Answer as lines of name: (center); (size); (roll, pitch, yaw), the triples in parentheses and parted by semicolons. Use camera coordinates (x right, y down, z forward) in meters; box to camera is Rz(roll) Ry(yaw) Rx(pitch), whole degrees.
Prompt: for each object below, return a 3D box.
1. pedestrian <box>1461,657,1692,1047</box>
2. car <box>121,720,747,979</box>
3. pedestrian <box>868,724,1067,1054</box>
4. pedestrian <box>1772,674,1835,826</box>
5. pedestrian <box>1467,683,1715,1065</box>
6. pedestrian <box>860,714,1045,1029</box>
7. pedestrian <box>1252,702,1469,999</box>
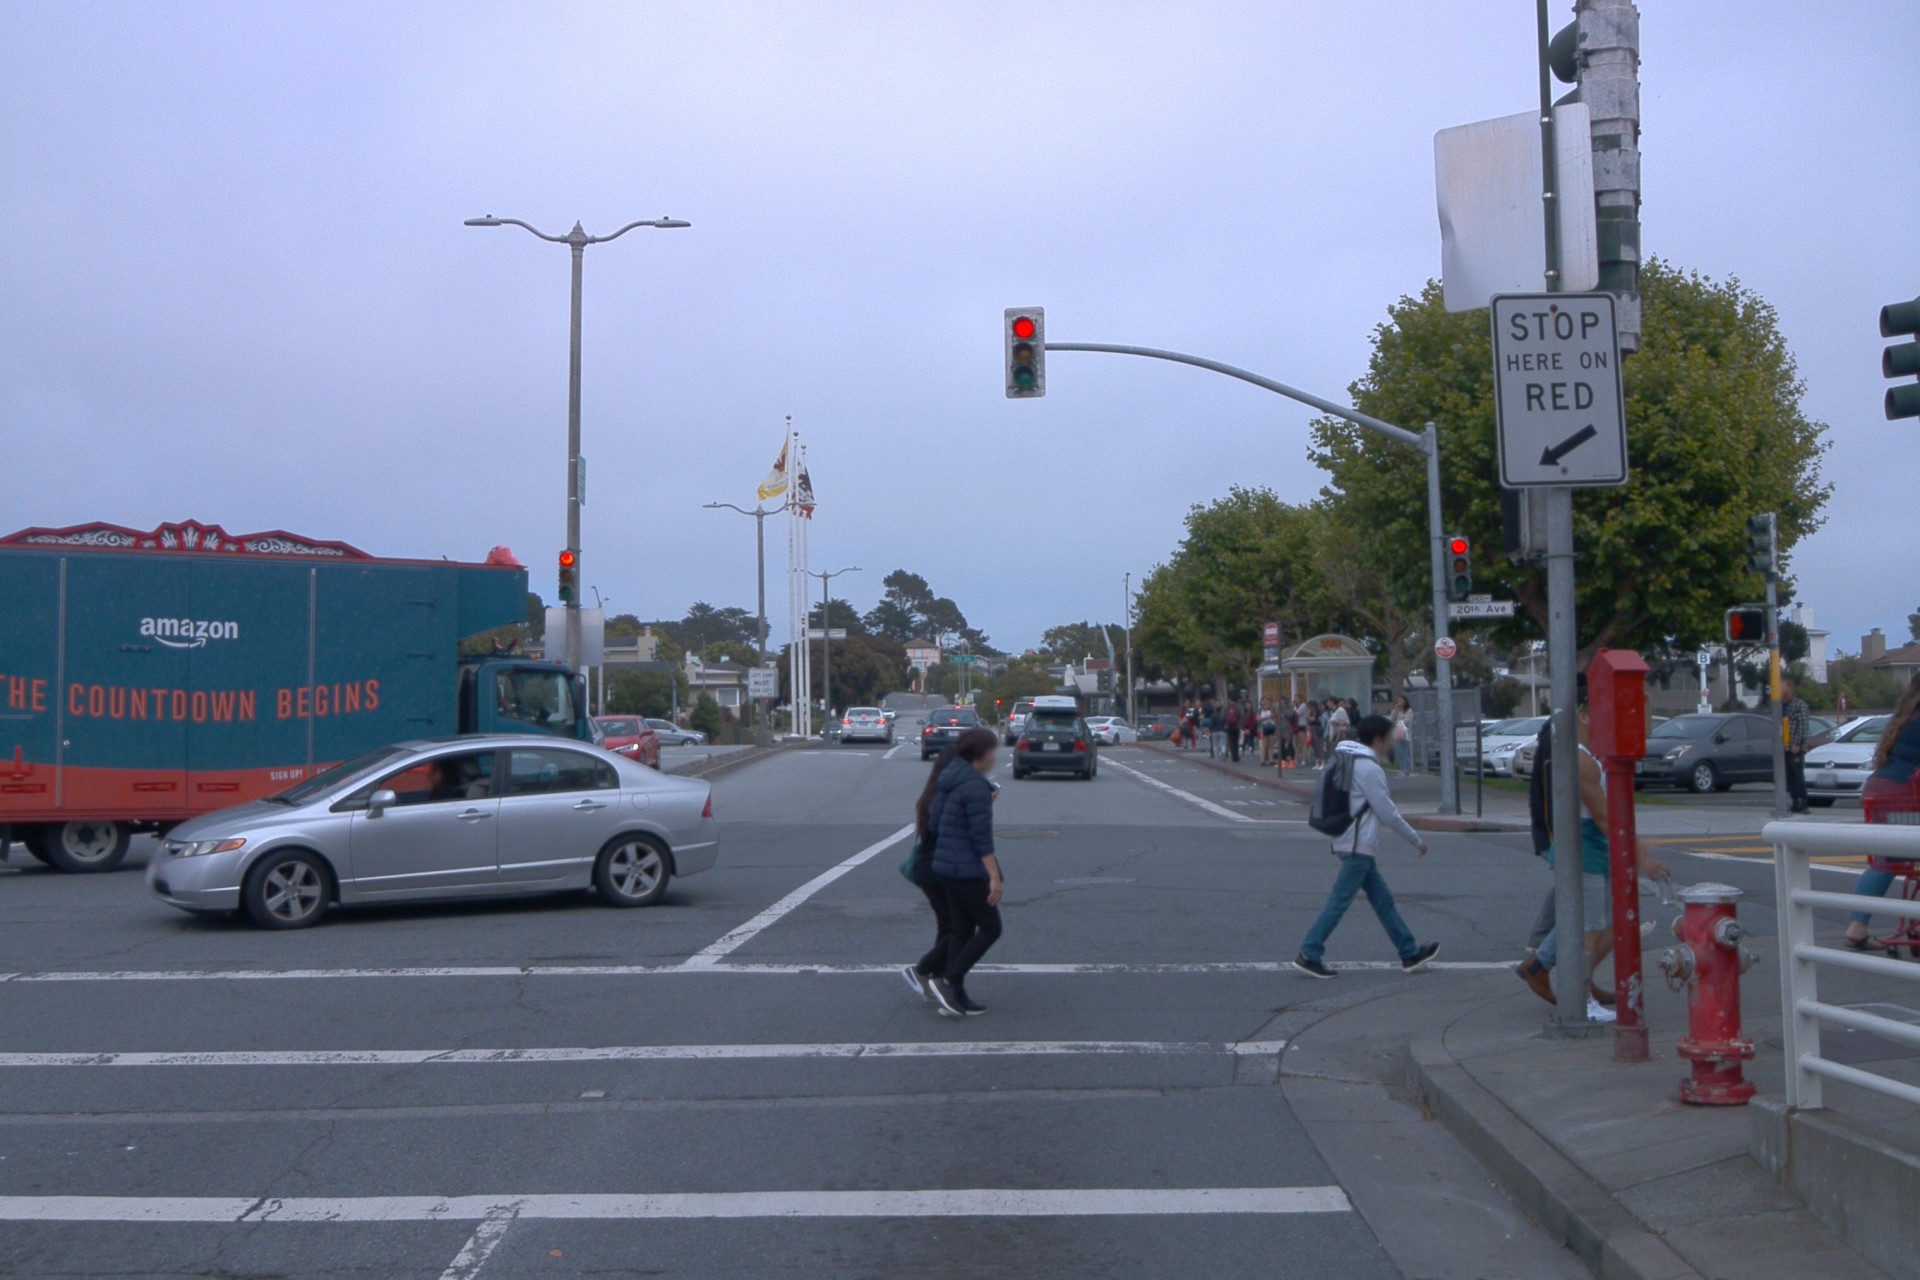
pedestrian: (3.132, 1.013, 10.403); (1.007, 1.830, 0.936); (0, 1, 24)
car: (-4.191, 1.557, 16.518); (4.467, 1.620, 2.033); (-1, 1, -30)
pedestrian: (0.026, 1.294, 10.913); (0.994, 1.650, 0.667); (0, 1, -4)
pedestrian: (10.818, 1.393, 26.368); (0.619, 1.900, 0.741); (0, 1, 12)
pedestrian: (2.991, 1.057, 9.729); (1.016, 1.670, 0.736); (0, 1, 27)
pedestrian: (-0.053, 1.258, 11.407); (0.963, 1.660, 0.601); (0, 1, -5)
pedestrian: (2.392, 1.232, 12.385); (1.050, 1.670, 0.927); (0, 1, -6)
